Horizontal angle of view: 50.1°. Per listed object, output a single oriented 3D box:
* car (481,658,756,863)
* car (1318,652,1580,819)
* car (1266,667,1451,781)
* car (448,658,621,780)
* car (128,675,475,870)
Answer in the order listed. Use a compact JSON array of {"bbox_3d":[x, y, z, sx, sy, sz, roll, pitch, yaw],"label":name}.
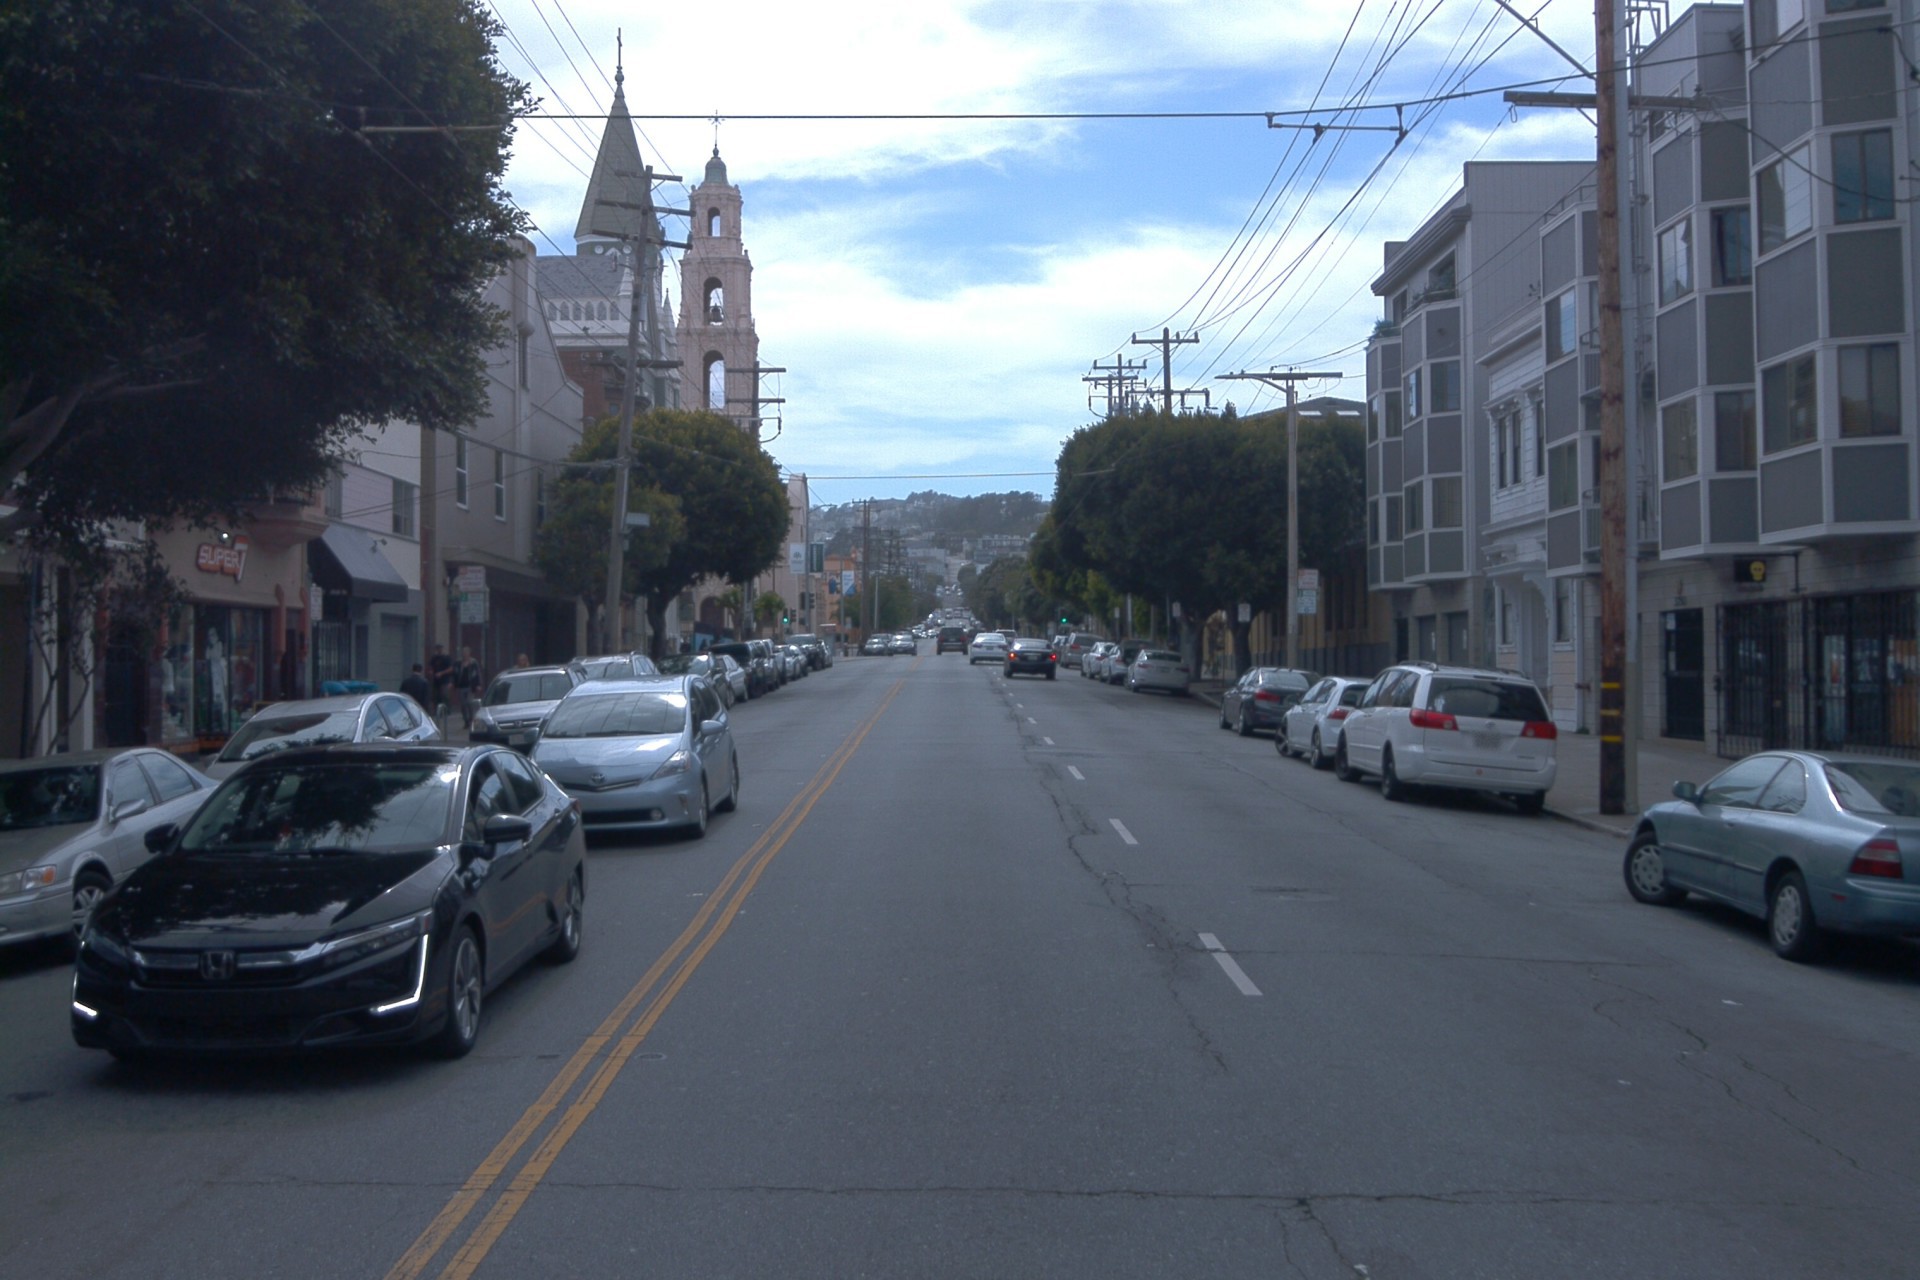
[{"bbox_3d":[-3.364,1.128,21.145,2.038,1.770,4.474,0,1,1],"label":"car"},{"bbox_3d":[6.351,1.164,27.410,2.246,1.890,5.234,0,1,0],"label":"car"},{"bbox_3d":[6.235,1.279,32.667,2.061,1.550,4.356,0,1,0],"label":"car"},{"bbox_3d":[-7.071,1.256,34.656,2.128,1.790,4.628,0,1,-2],"label":"car"},{"bbox_3d":[-6.795,1.292,21.849,2.140,1.670,4.829,0,1,0],"label":"car"}]
